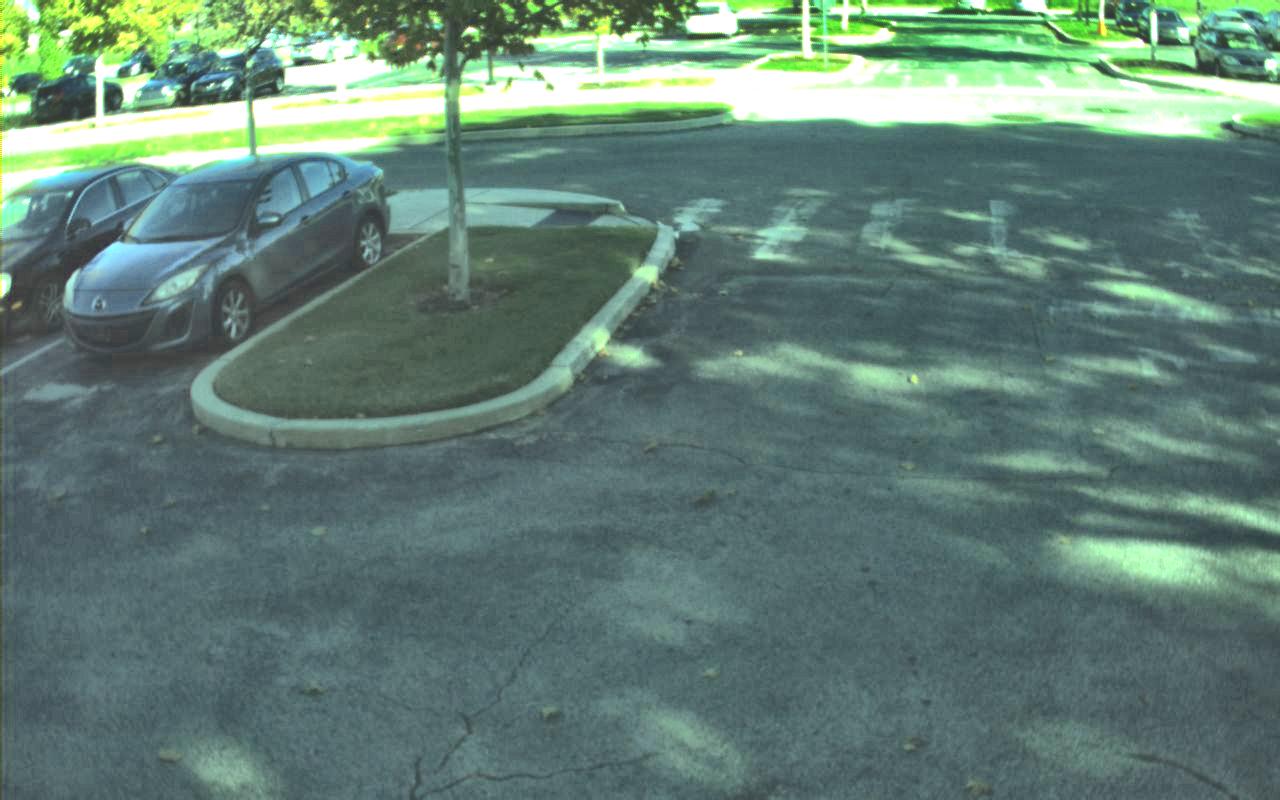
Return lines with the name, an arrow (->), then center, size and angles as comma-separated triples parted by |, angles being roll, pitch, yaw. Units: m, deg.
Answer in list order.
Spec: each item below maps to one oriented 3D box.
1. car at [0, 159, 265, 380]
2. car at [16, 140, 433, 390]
car -> -6.289, -1.599, 12.991 | 1.936, 1.551, 4.450 | 5, 18, 19
car -> -3.920, -1.513, 11.847 | 1.926, 1.536, 4.559 | 4, 17, 17
